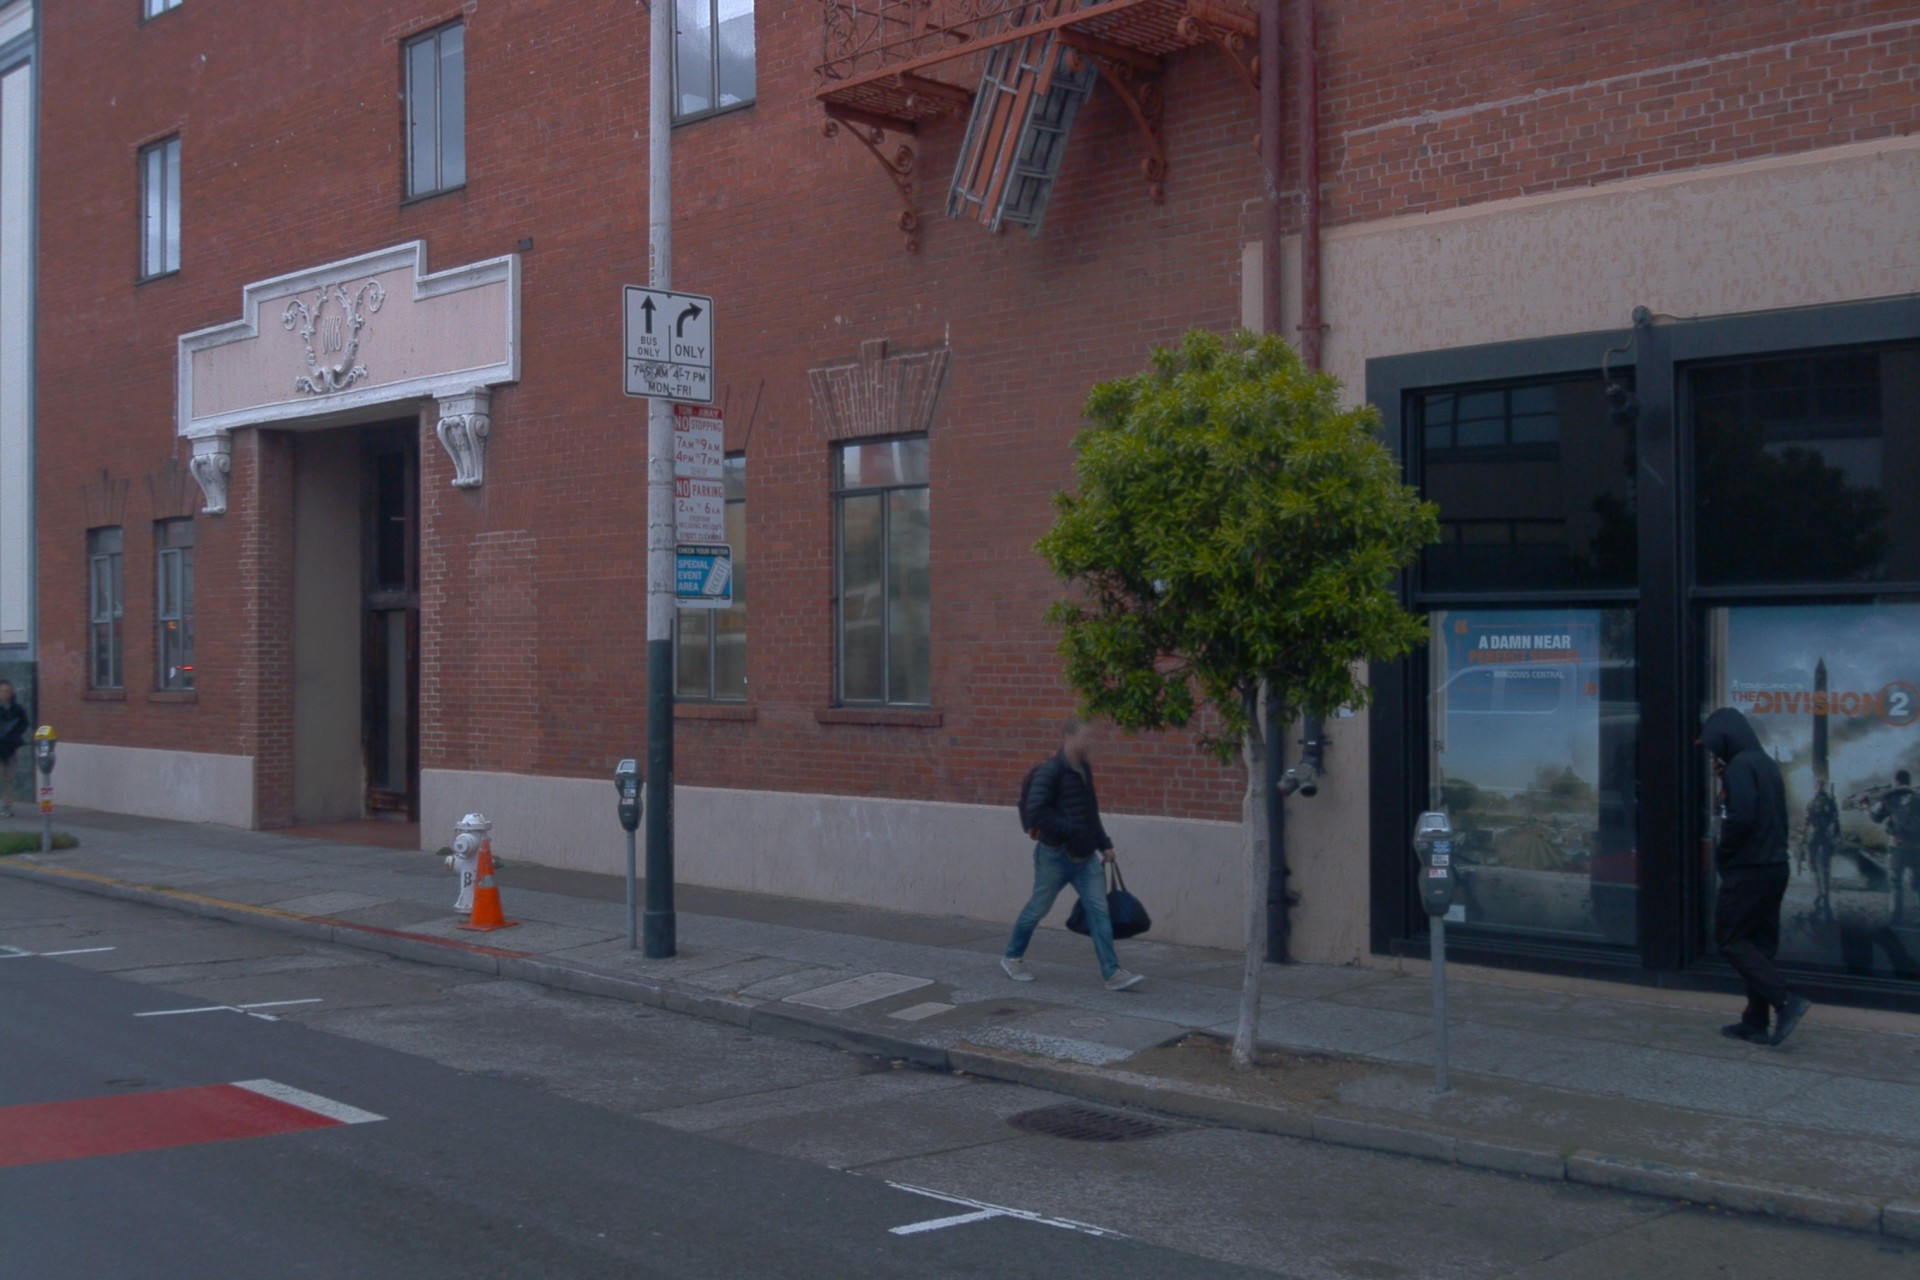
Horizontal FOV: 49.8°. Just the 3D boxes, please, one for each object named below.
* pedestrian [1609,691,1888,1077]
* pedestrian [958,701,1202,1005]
[{"bbox_3d":[4.081,1.198,10.726,1.126,1.848,0.798,0,-1,44],"label":"pedestrian"},{"bbox_3d":[0.736,1.259,12.755,0.979,1.730,1.128,1,-1,-43],"label":"pedestrian"}]
